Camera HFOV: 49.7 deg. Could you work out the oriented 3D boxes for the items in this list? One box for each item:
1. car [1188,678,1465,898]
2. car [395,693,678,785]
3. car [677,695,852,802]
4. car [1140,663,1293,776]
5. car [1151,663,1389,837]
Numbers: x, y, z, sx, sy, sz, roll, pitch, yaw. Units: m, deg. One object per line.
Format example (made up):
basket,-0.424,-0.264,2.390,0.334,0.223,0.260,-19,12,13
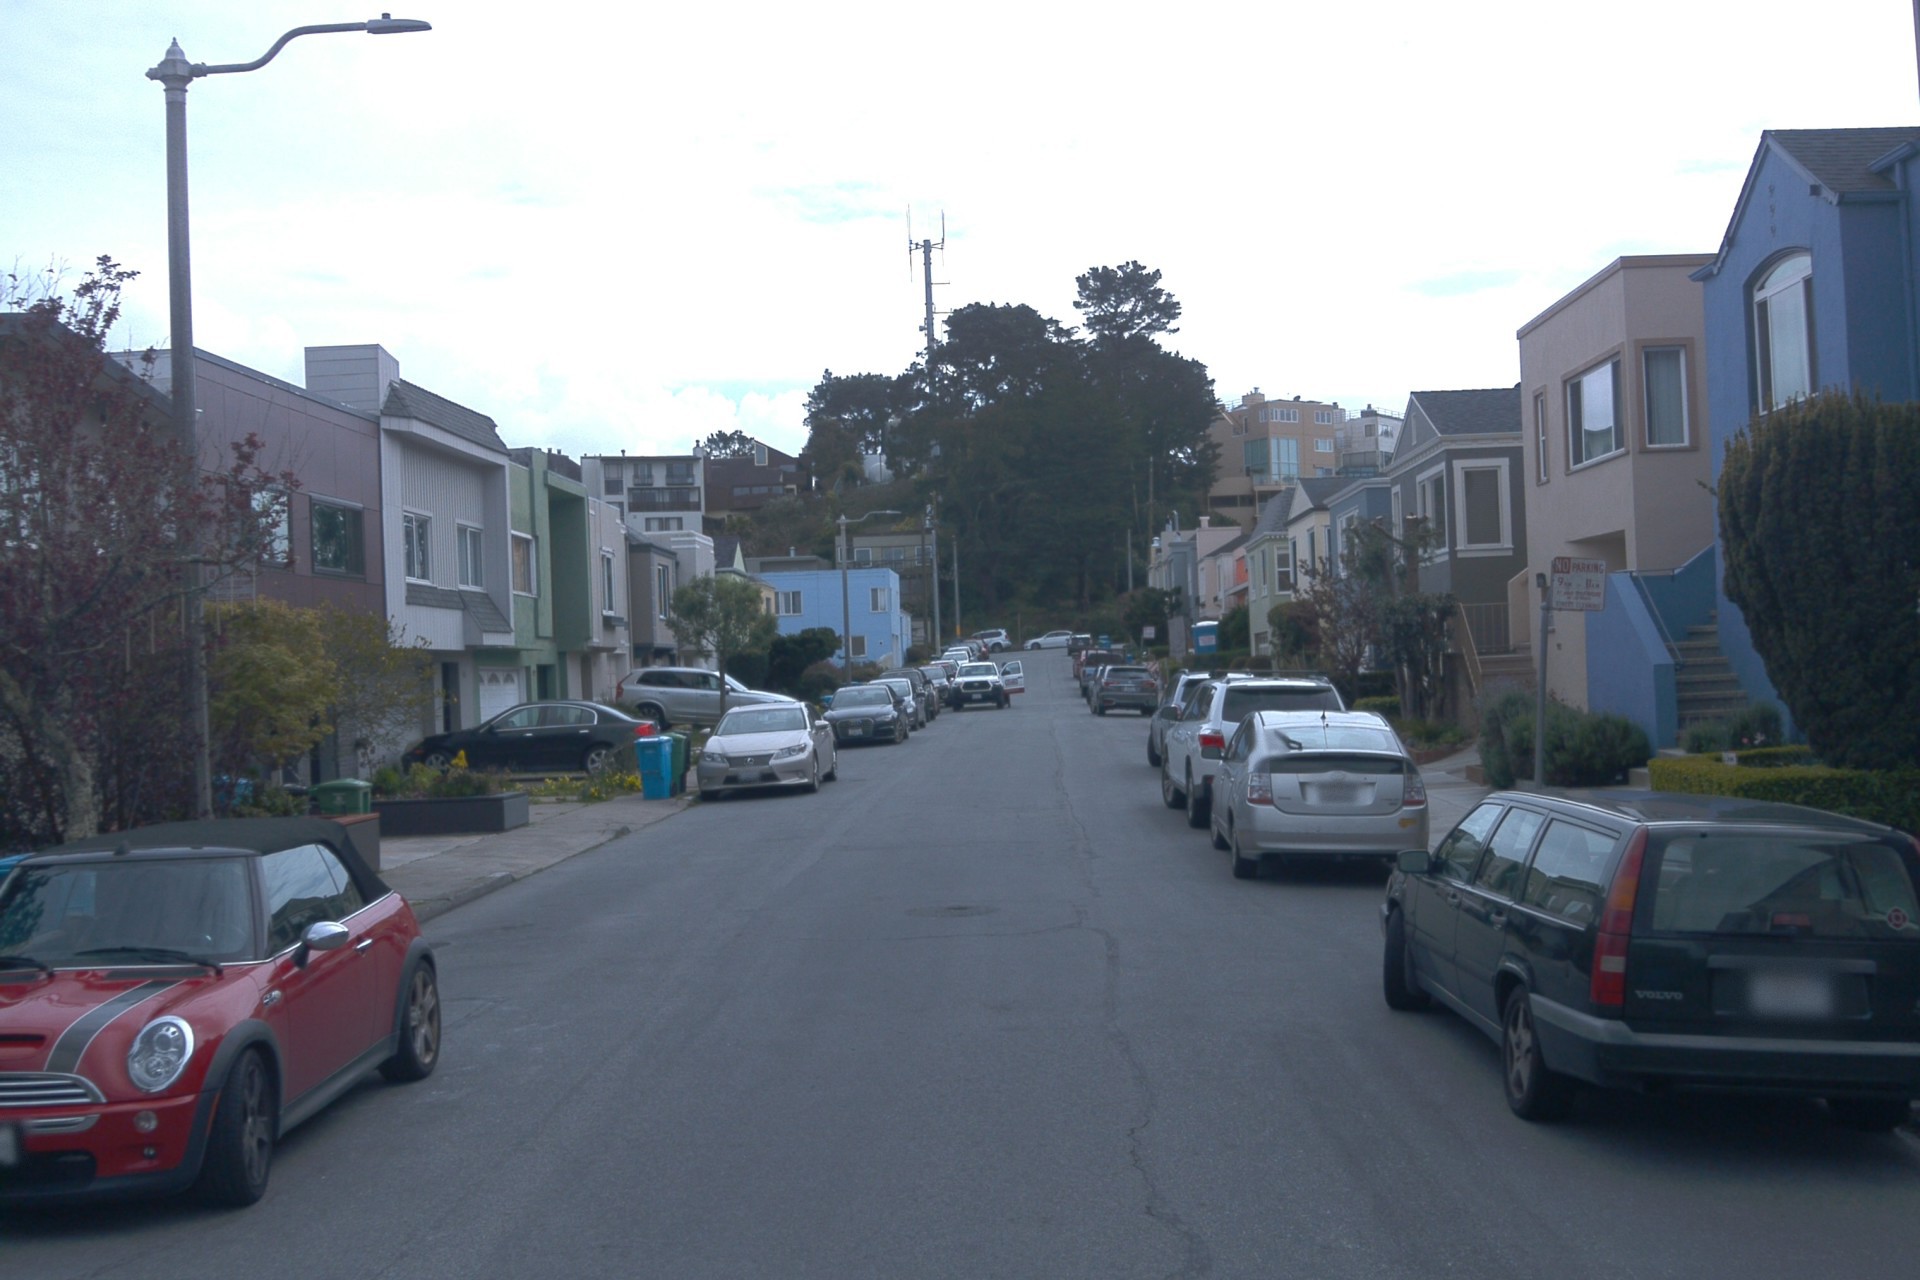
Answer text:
car,3.351,1.289,19.832,2.087,1.790,4.606,0,0,3
car,-7.561,1.757,37.343,4.784,1.560,2.035,0,0,-4
car,-3.100,1.707,33.942,2.131,1.510,5.018,0,0,3
car,4.194,1.264,34.601,2.102,1.730,4.779,0,0,2
car,3.604,1.223,25.026,2.207,1.850,5.027,0,0,1
